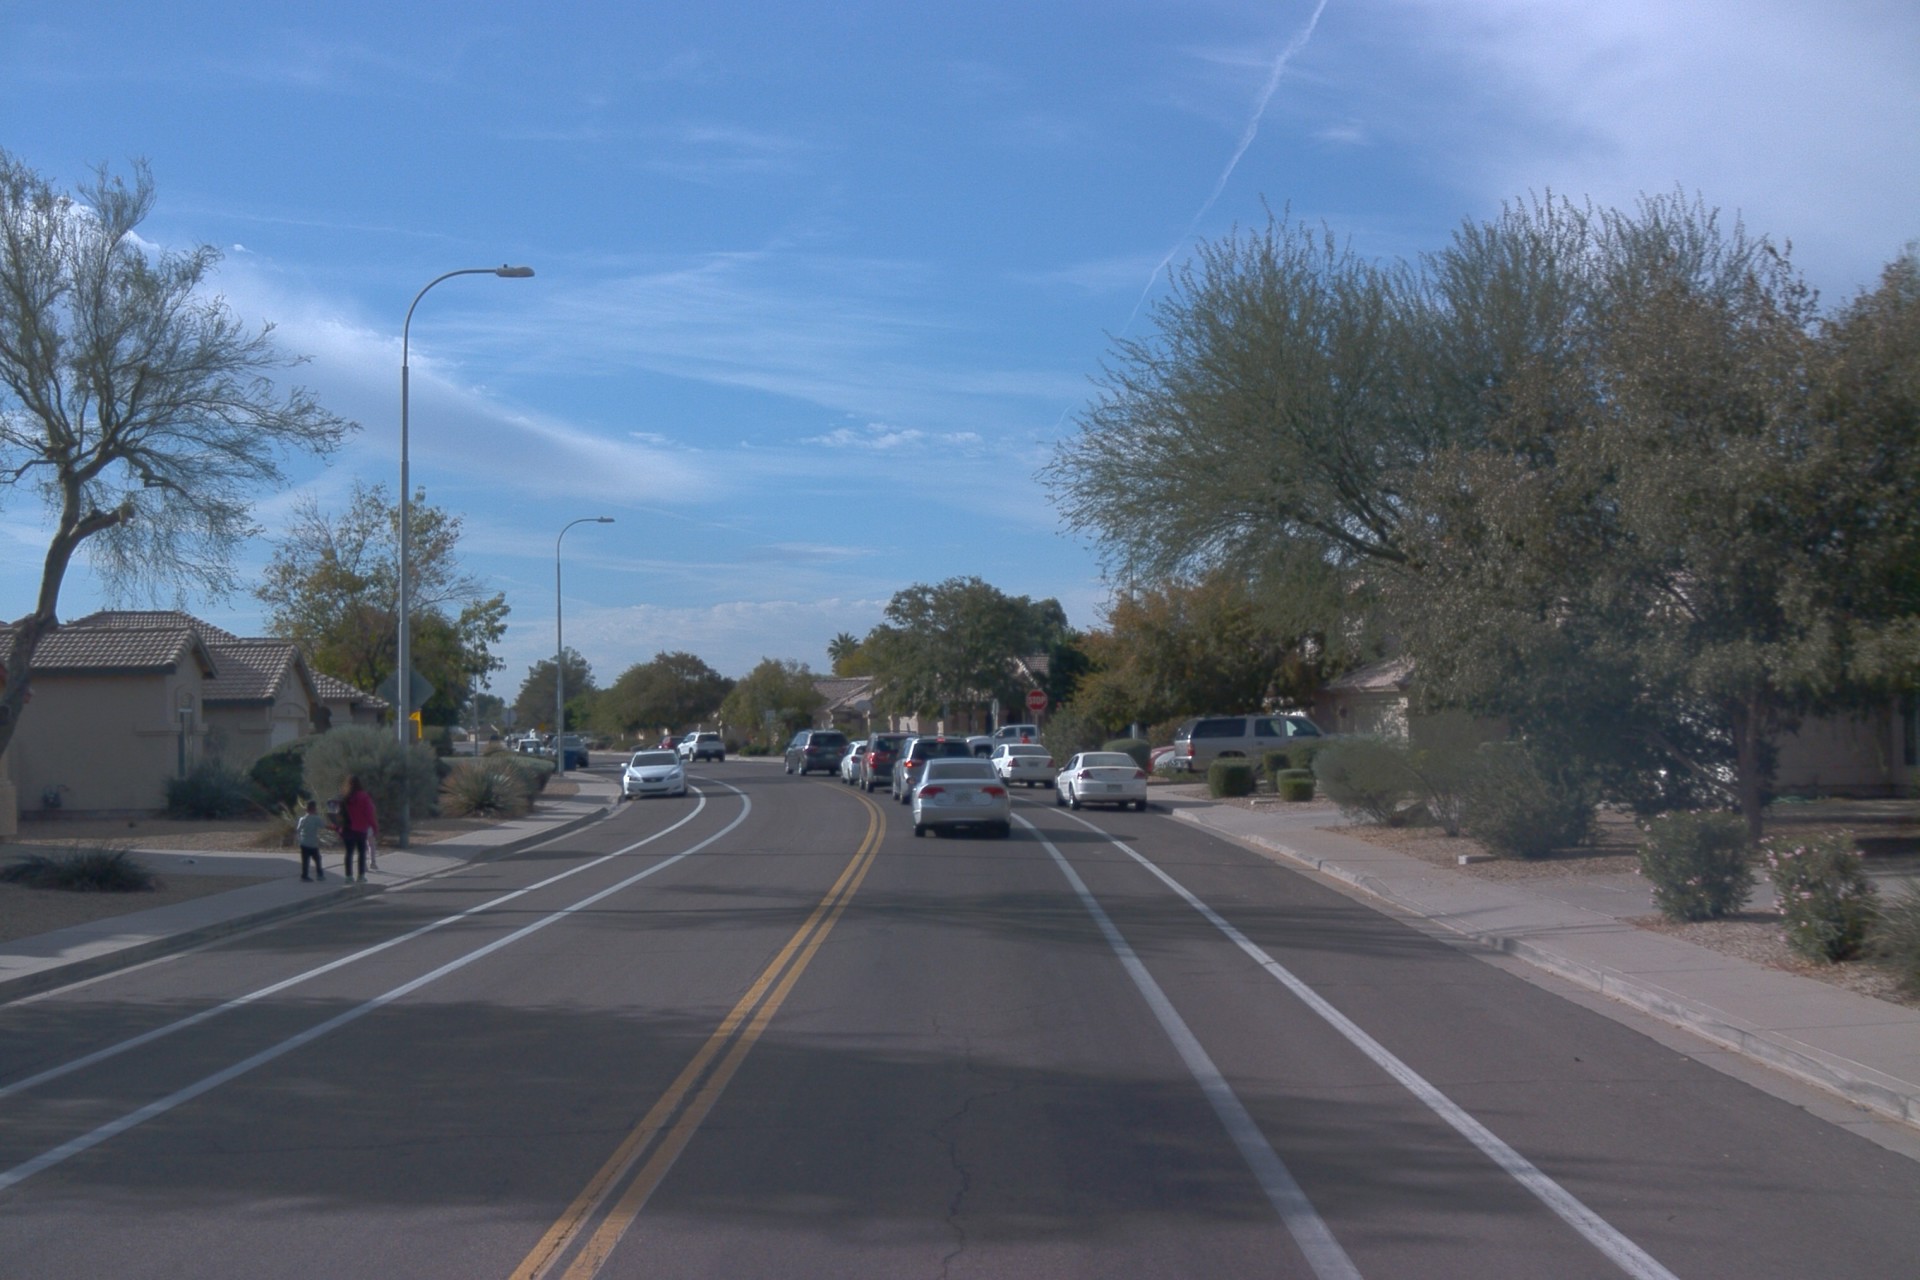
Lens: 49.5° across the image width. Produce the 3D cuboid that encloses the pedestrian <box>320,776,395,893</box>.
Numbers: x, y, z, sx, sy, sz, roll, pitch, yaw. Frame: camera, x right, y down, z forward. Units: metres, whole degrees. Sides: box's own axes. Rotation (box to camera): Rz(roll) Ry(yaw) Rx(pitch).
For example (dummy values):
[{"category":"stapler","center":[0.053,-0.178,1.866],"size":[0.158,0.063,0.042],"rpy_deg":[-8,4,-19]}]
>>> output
[{"category":"pedestrian","center":[-8.468,2.728,29.257],"size":[0.782,1.580,0.850],"rpy_deg":[0,-1,2]}]

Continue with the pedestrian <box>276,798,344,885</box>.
[{"category":"pedestrian","center":[-9.090,2.818,29.126],"size":[0.691,1.150,0.794],"rpy_deg":[0,-1,2]}]
